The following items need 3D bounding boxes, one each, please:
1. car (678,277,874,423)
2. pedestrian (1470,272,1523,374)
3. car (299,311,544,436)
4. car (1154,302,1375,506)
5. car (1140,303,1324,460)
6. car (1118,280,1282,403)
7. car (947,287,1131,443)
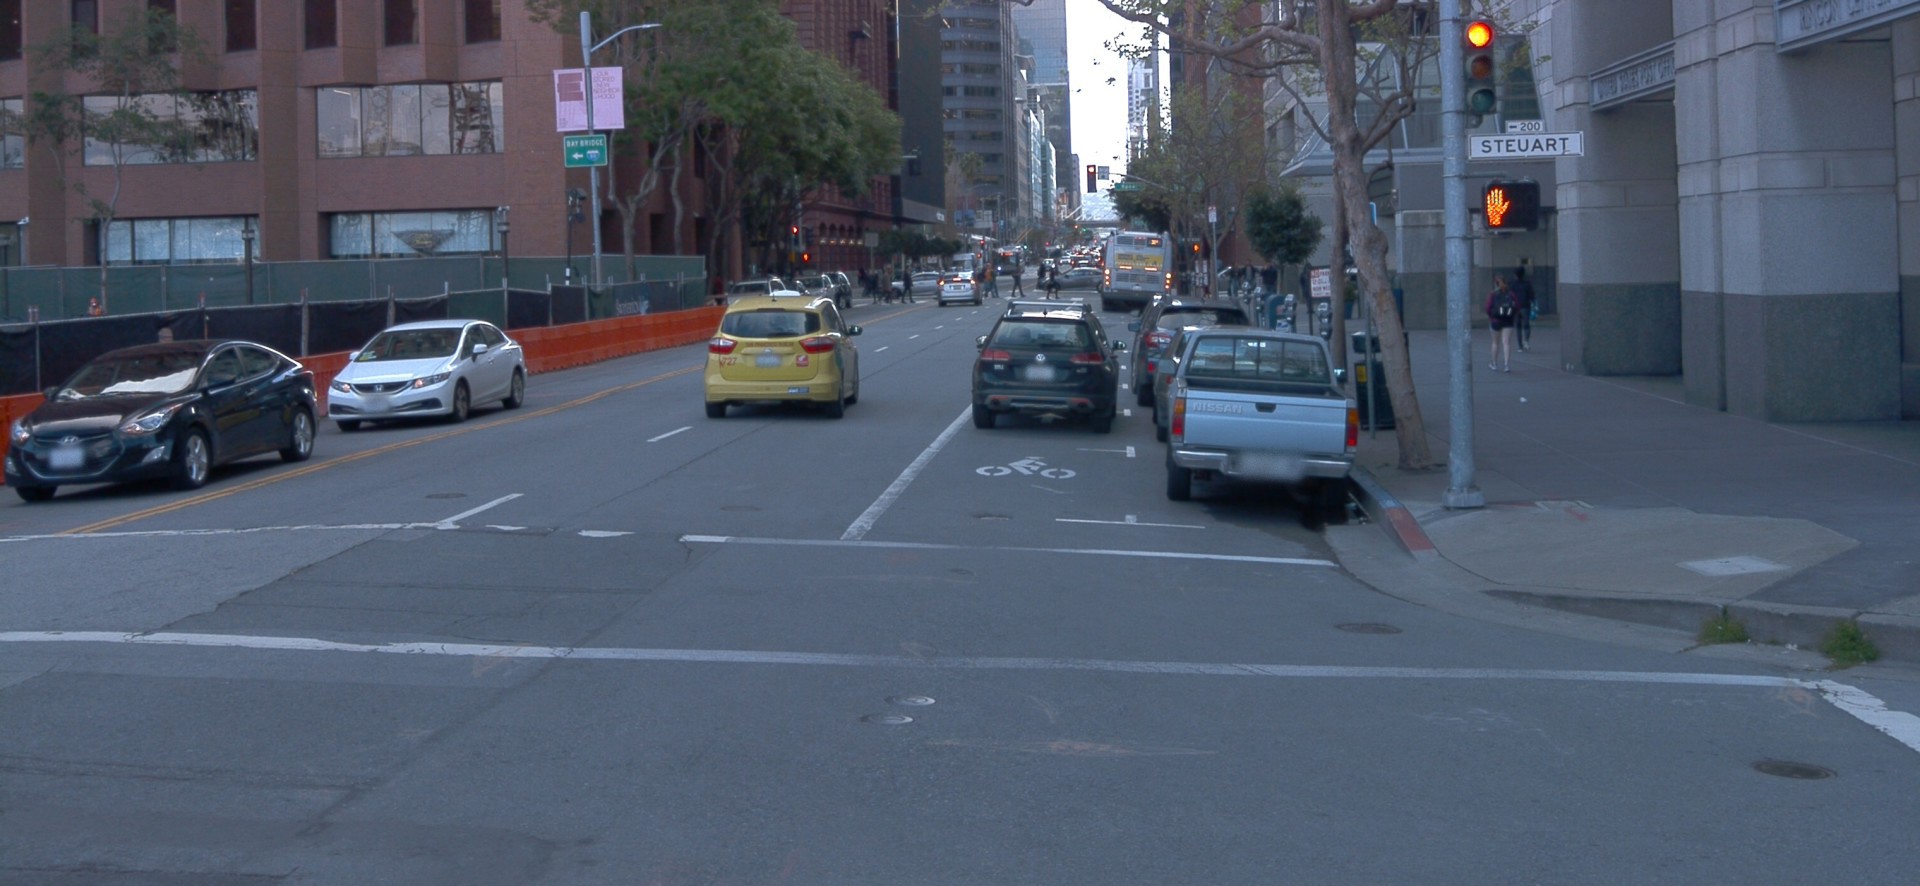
[{"bbox_3d":[-2.442,-1.364,28.533,2.178,1.784,4.423,0,5,2],"label":"car"},{"bbox_3d":[8.872,-1.996,34.152,0.720,1.649,0.900,0,1,6],"label":"pedestrian"},{"bbox_3d":[-7.655,-1.080,29.863,2.056,1.494,4.643,0,5,4],"label":"car"},{"bbox_3d":[2.848,-0.500,20.195,1.863,1.604,4.695,0,5,5],"label":"car"},{"bbox_3d":[3.336,-0.872,26.079,2.108,1.654,4.603,0,5,5],"label":"car"},{"bbox_3d":[3.644,-1.657,32.189,2.261,1.663,4.949,0,5,3],"label":"car"},{"bbox_3d":[1.115,-1.100,26.909,2.035,1.754,4.228,0,5,7],"label":"car"}]
